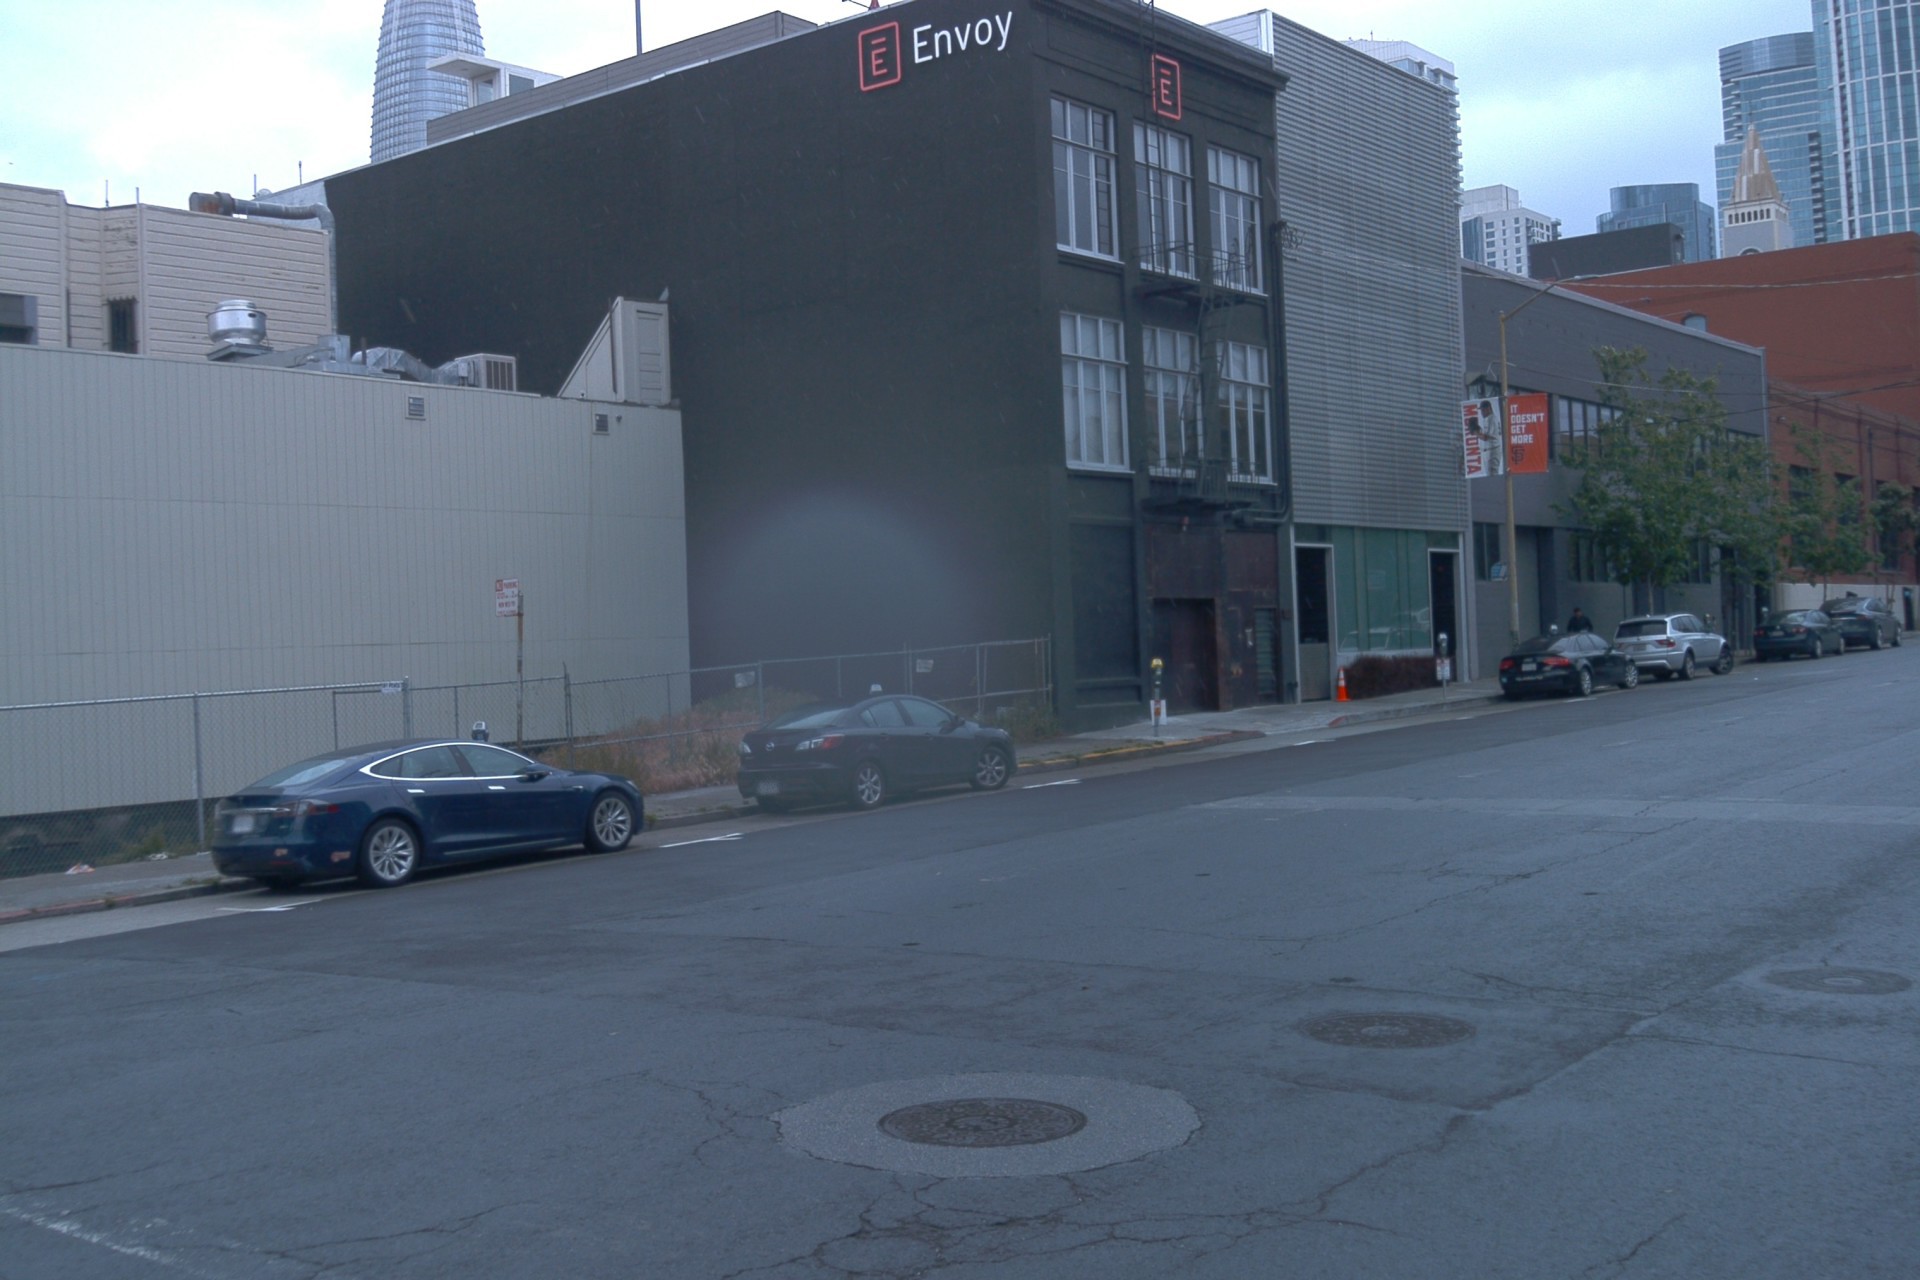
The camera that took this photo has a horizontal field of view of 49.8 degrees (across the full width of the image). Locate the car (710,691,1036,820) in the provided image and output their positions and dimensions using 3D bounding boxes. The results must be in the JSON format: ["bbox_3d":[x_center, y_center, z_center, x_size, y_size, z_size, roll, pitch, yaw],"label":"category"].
[{"bbox_3d":[-1.067,1.455,27.435,2.005,1.500,4.289,0,-1,38],"label":"car"}]

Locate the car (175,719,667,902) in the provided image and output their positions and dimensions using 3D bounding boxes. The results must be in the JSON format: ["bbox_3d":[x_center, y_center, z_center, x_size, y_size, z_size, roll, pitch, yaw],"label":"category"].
[{"bbox_3d":[-5.480,1.668,21.656,2.011,1.550,4.769,0,-1,36],"label":"car"}]
